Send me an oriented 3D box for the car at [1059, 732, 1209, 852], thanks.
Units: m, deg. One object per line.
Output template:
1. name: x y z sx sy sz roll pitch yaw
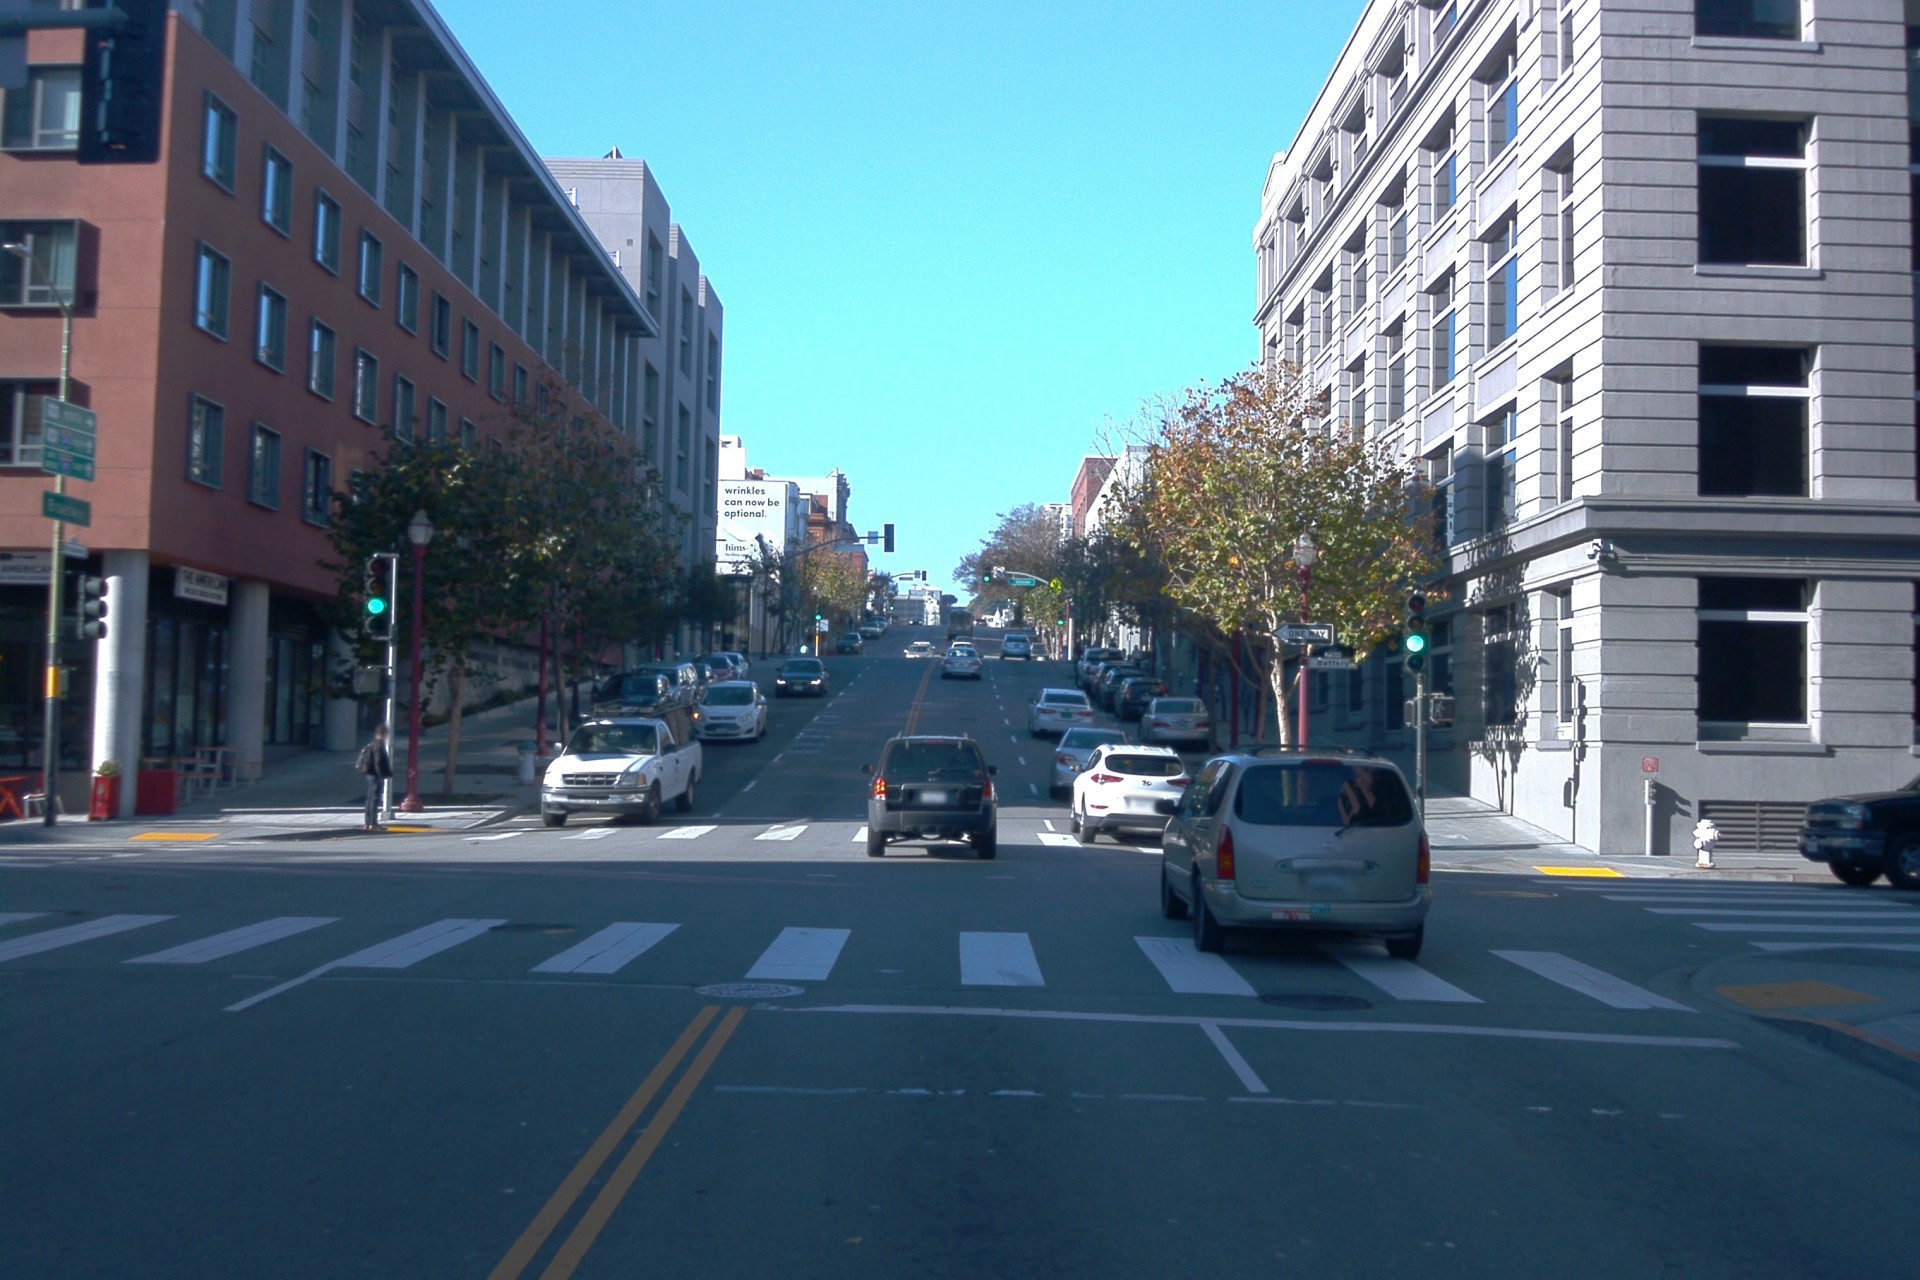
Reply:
1. car: 2.897 2.534 35.597 2.088 1.800 4.683 1 -2 -1

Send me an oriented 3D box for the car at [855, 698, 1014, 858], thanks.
1. car: -0.375 1.918 30.198 2.096 2.100 4.544 1 -2 -1

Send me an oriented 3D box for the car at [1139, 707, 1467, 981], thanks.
1. car: 2.877 1.665 18.563 2.113 2.070 4.763 1 -2 0

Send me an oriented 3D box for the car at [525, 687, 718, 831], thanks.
1. car: -6.040 2.093 37.856 2.147 2.400 5.276 1 -2 5

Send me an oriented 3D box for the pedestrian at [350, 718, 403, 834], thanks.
1. pedestrian: -9.607 2.237 34.273 0.707 1.870 0.731 1 -1 -8
